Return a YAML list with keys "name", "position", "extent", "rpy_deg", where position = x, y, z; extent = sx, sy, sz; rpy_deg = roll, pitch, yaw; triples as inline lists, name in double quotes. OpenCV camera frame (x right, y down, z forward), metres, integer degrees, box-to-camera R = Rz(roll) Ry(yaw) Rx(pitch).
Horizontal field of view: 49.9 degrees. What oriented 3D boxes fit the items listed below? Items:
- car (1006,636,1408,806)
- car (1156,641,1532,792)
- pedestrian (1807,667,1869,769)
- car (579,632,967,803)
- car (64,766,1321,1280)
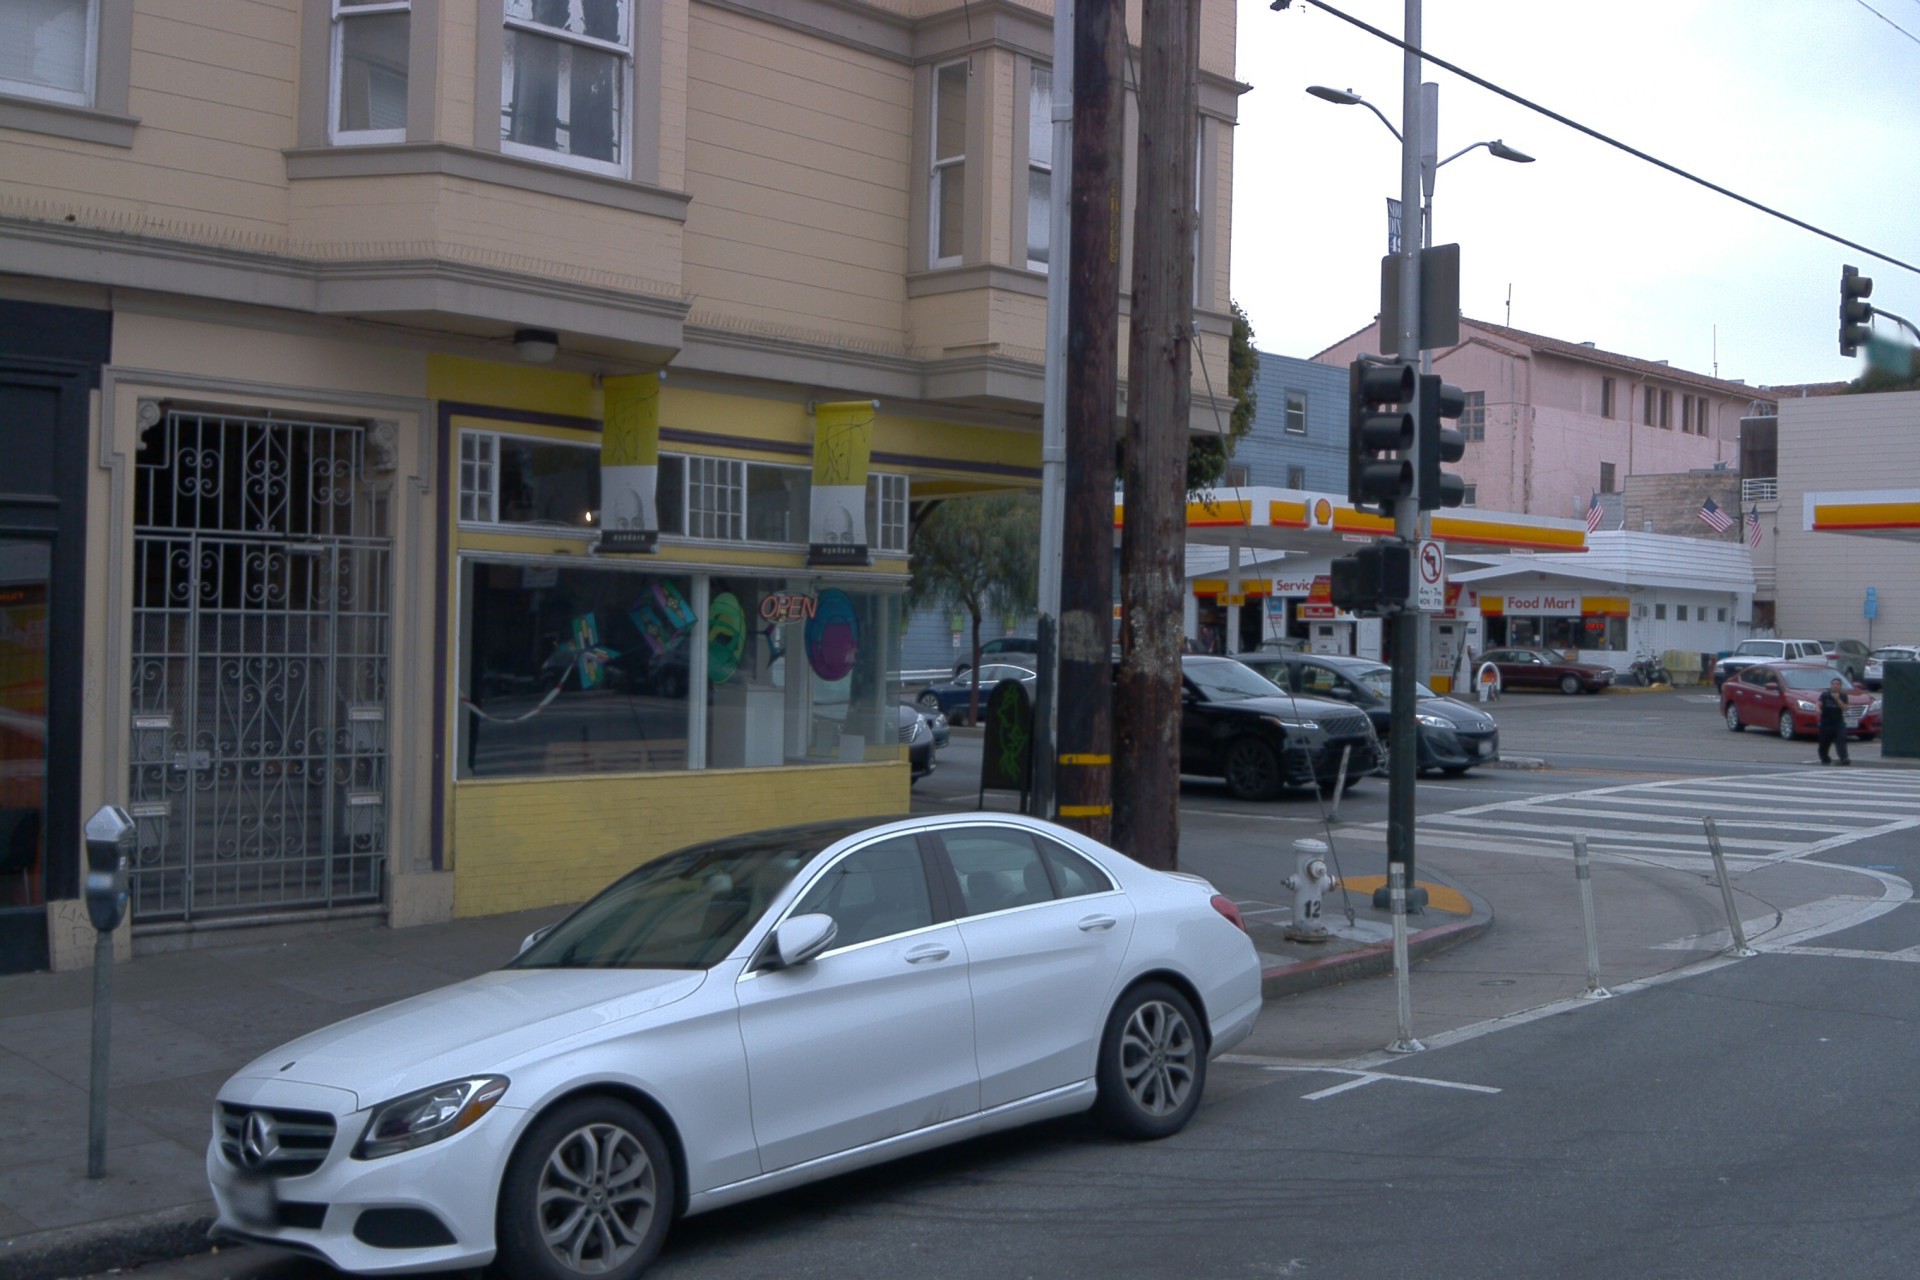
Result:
- name: "car"
  position: [2.975, 0.909, 25.580]
  extent: [2.104, 1.830, 4.647]
  rpy_deg: [-1, 1, -45]
- name: "car"
  position: [5.147, 0.958, 28.151]
  extent: [4.688, 1.789, 2.067]
  rpy_deg: [1, 1, 45]
- name: "pedestrian"
  position: [14.501, 1.267, 34.110]
  extent: [0.837, 1.610, 1.130]
  rpy_deg: [0, 1, 18]
- name: "car"
  position: [-2.514, 0.899, 26.732]
  extent: [2.249, 1.930, 5.134]
  rpy_deg: [-1, 1, -45]
- name: "car"
  position: [-0.765, 1.480, 8.176]
  extent: [4.697, 1.590, 1.975]
  rpy_deg: [-1, 1, -45]
